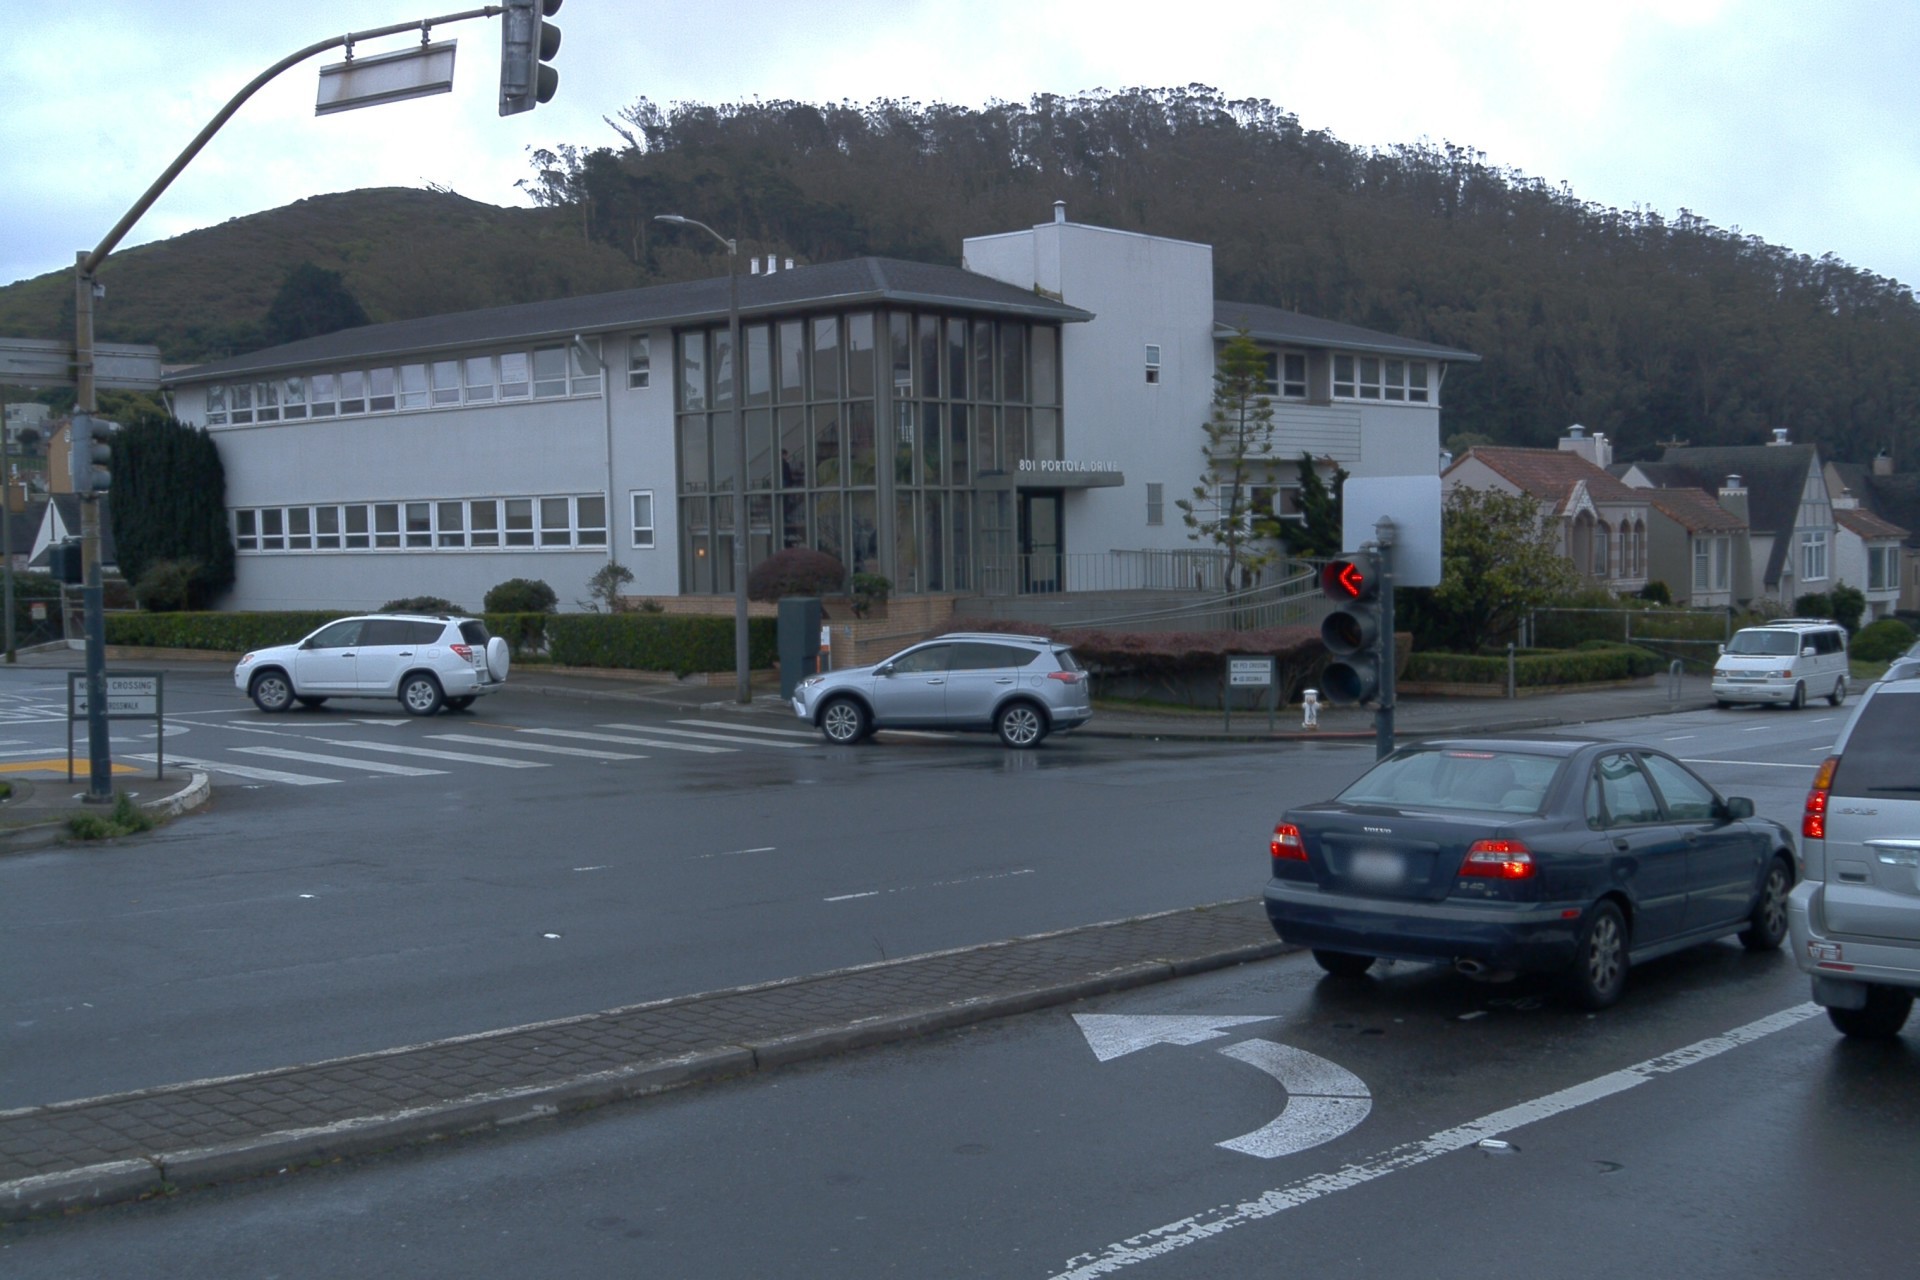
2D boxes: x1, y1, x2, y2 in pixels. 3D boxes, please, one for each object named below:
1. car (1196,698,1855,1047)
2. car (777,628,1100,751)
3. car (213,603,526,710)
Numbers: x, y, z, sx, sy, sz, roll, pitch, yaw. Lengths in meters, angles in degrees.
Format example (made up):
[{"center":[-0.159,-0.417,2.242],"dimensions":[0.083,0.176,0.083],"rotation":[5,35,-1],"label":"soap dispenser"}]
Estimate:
[{"center":[3.469,1.177,12.053],"dimensions":[1.961,1.500,4.296],"rotation":[1,1,43],"label":"car"},{"center":[-0.260,0.712,31.172],"dimensions":[4.658,1.740,2.199],"rotation":[0,1,7],"label":"car"},{"center":[-10.078,0.261,35.163],"dimensions":[4.738,1.740,2.053],"rotation":[0,1,8],"label":"car"}]
